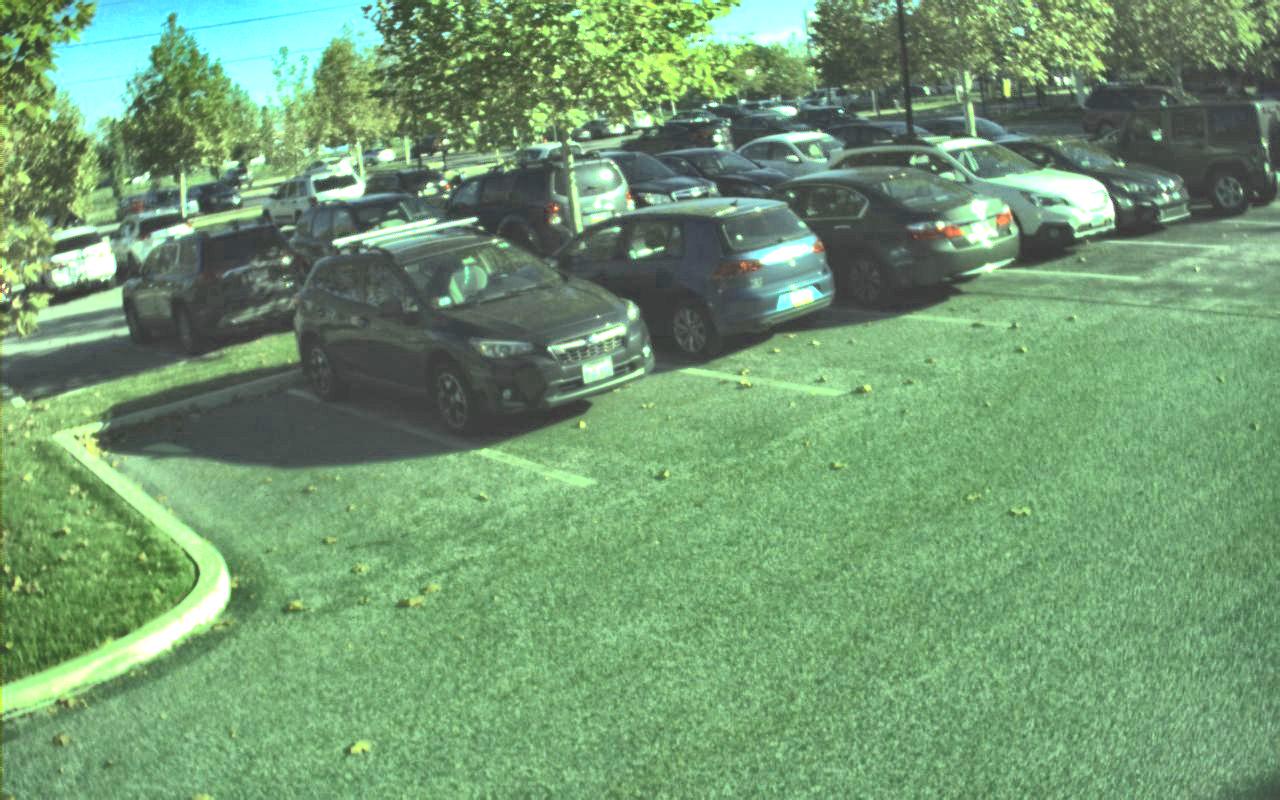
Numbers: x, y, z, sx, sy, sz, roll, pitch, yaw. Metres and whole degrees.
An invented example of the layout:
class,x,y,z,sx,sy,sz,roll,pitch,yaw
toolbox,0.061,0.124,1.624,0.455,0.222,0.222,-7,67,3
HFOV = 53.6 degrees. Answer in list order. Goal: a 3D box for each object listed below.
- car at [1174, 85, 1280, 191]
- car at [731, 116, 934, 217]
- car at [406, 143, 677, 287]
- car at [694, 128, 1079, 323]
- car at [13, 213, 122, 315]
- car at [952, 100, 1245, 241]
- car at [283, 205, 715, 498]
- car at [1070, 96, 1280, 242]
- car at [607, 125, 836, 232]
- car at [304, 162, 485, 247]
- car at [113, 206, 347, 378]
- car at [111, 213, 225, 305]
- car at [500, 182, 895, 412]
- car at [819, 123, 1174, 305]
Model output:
class,x,y,z,sx,sy,sz,roll,pitch,yaw
car,13.208,-5.382,22.725,1.973,1.615,4.478,-11,19,-30
car,4.061,-5.106,26.726,1.982,1.639,4.543,-11,19,-29
car,-1.763,-3.206,20.840,2.041,1.748,4.660,-15,22,-41
car,2.826,-2.254,14.837,1.978,1.595,4.608,-12,20,-33
car,-15.119,-3.566,29.814,2.049,1.820,4.675,-13,21,-36
car,7.012,-3.611,18.144,1.942,1.589,4.401,-12,20,-34
car,-1.560,-0.708,11.956,1.970,1.672,4.545,-14,21,-37
car,9.601,-3.929,19.050,2.047,1.799,4.701,-15,21,-39
car,1.544,-4.473,24.758,1.971,1.602,4.458,-15,21,-39
car,-6.837,-5.473,34.315,4.681,1.684,1.988,-11,19,-30
car,-6.514,-1.800,18.489,2.029,1.728,4.702,-15,21,-39
car,-12.772,-3.816,31.633,1.979,1.660,4.466,-13,20,-35
car,0.494,-1.288,13.612,1.890,1.602,4.212,-15,21,-39
car,4.885,-2.733,16.924,2.064,1.775,4.851,-12,20,-34
